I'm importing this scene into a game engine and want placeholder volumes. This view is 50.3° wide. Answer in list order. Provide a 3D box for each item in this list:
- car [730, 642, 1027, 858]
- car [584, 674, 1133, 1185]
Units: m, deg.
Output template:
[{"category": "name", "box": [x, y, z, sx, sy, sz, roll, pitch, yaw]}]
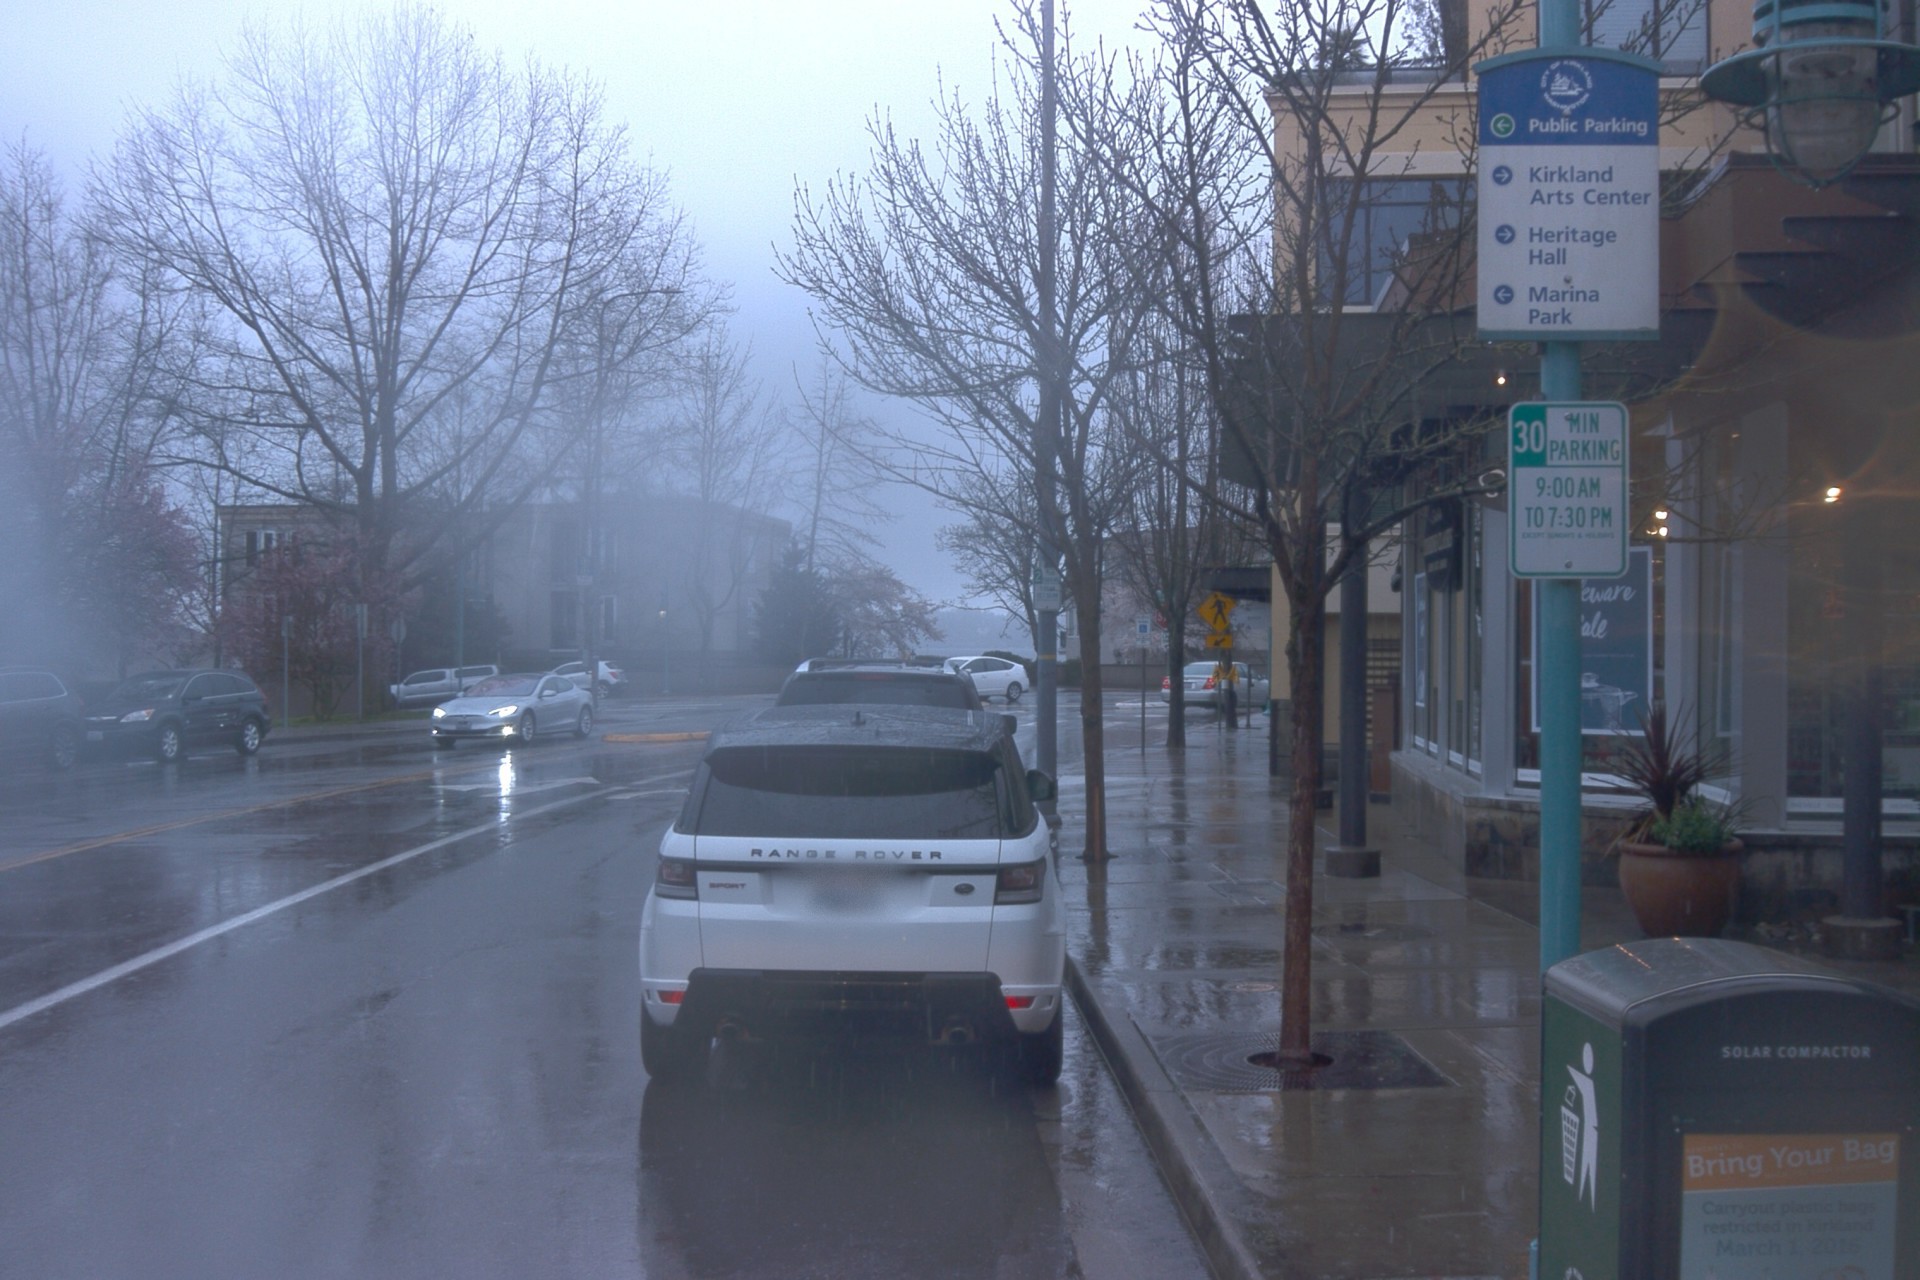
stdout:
[{"category": "car", "box": [-0.712, 0.834, 17.957, 2.210, 1.560, 5.097, 1, 0, -2]}, {"category": "car", "box": [-0.520, 1.262, 11.130, 2.265, 2.000, 5.125, 1, 0, -2]}]
